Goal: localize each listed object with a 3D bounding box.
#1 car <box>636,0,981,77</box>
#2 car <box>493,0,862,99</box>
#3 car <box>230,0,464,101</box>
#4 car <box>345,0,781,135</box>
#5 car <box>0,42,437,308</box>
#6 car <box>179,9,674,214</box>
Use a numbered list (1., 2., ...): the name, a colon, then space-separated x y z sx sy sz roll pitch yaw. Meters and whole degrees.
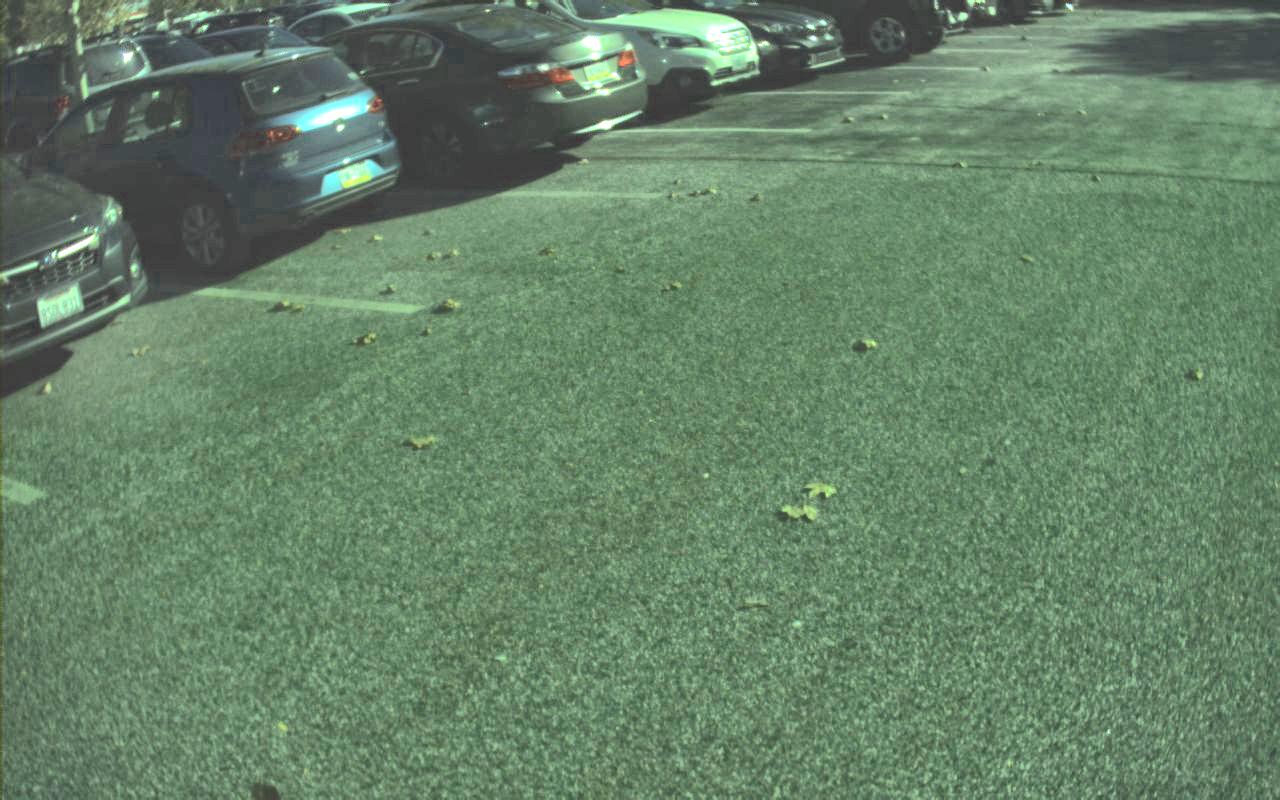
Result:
1. car: 2.417 -5.459 17.306 4.560 1.559 1.964 8 19 28
2. car: 0.423 -4.653 15.529 4.349 1.535 1.927 10 20 33
3. car: -5.579 -6.461 22.289 4.521 1.608 1.983 11 20 35
4. car: -0.964 -3.906 13.579 4.608 1.692 2.006 10 20 33
5. car: -3.872 -1.843 9.206 4.291 1.587 1.916 8 18 27
6. car: -2.142 -2.690 11.086 4.555 1.508 1.950 10 20 33
